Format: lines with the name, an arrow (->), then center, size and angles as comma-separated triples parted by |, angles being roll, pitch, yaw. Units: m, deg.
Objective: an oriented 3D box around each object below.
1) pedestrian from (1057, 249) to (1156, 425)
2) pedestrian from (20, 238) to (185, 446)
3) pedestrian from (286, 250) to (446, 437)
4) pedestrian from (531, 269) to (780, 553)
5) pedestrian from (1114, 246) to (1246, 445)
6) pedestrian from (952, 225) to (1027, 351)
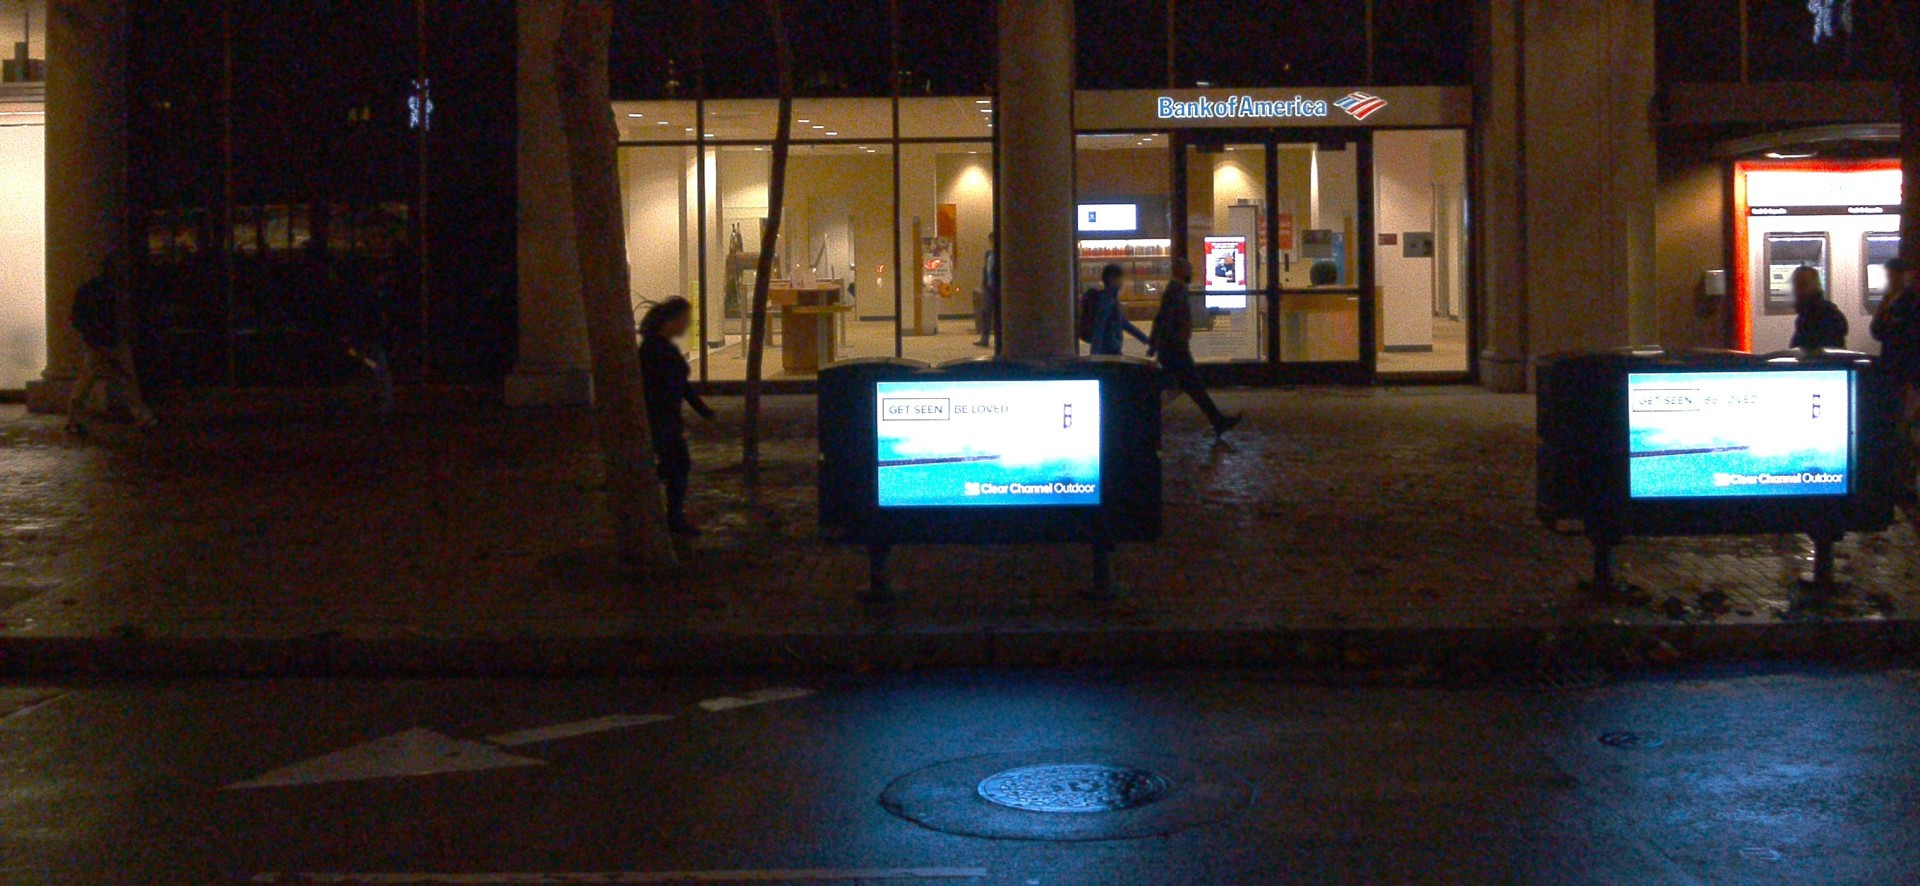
pedestrian -> 1.377, -1.020, 19.355 | 0.889, 1.596, 0.771 | -1, 3, 1
pedestrian -> -8.135, -0.986, 19.463 | 1.052, 1.885, 1.023 | -1, 3, 1
pedestrian -> -5.679, -0.977, 19.618 | 1.127, 1.715, 0.915 | 0, 3, 10
pedestrian -> -1.998, -0.260, 13.593 | 1.216, 1.745, 1.154 | 0, 3, 16
pedestrian -> 1.948, -0.889, 18.247 | 1.061, 1.685, 0.935 | -1, 3, -1
pedestrian -> 0.433, -2.290, 30.021 | 0.839, 1.795, 0.691 | -3, 3, -43
